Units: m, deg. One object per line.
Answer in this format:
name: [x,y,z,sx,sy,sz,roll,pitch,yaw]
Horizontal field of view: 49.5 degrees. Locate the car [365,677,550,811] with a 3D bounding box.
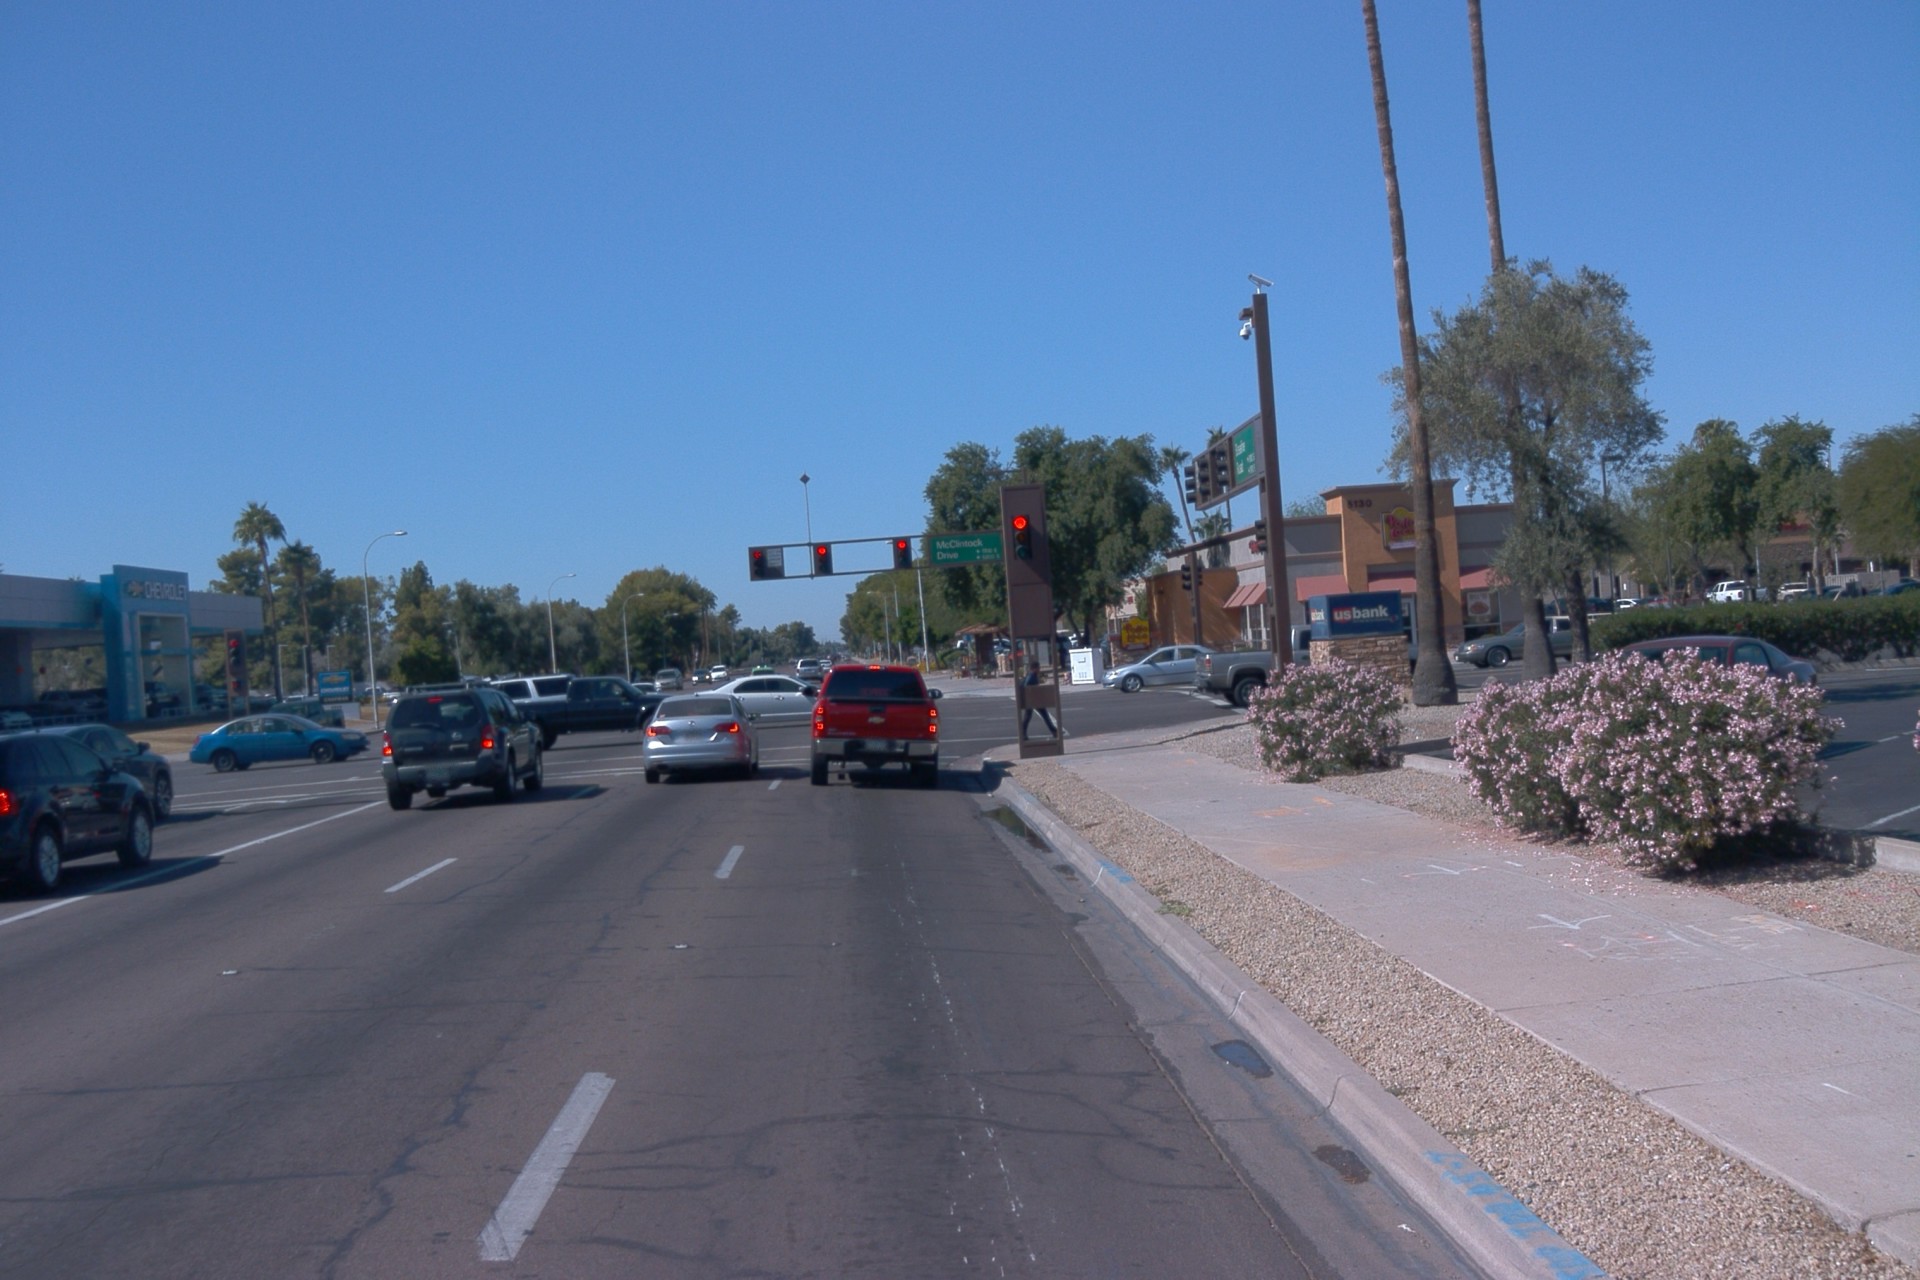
car: [-7.862,1.570,32.989,1.998,1.951,4.416,1,-1,-2]

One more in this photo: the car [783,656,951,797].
car: [-1.451,1.361,34.654,2.538,2.120,5.758,1,-1,-1]

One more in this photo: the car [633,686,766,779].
car: [-4.408,1.543,35.797,1.920,1.450,4.335,1,-1,-3]

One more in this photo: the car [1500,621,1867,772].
car: [7.879,0.586,22.396,2.094,1.442,4.760,0,-1,41]
